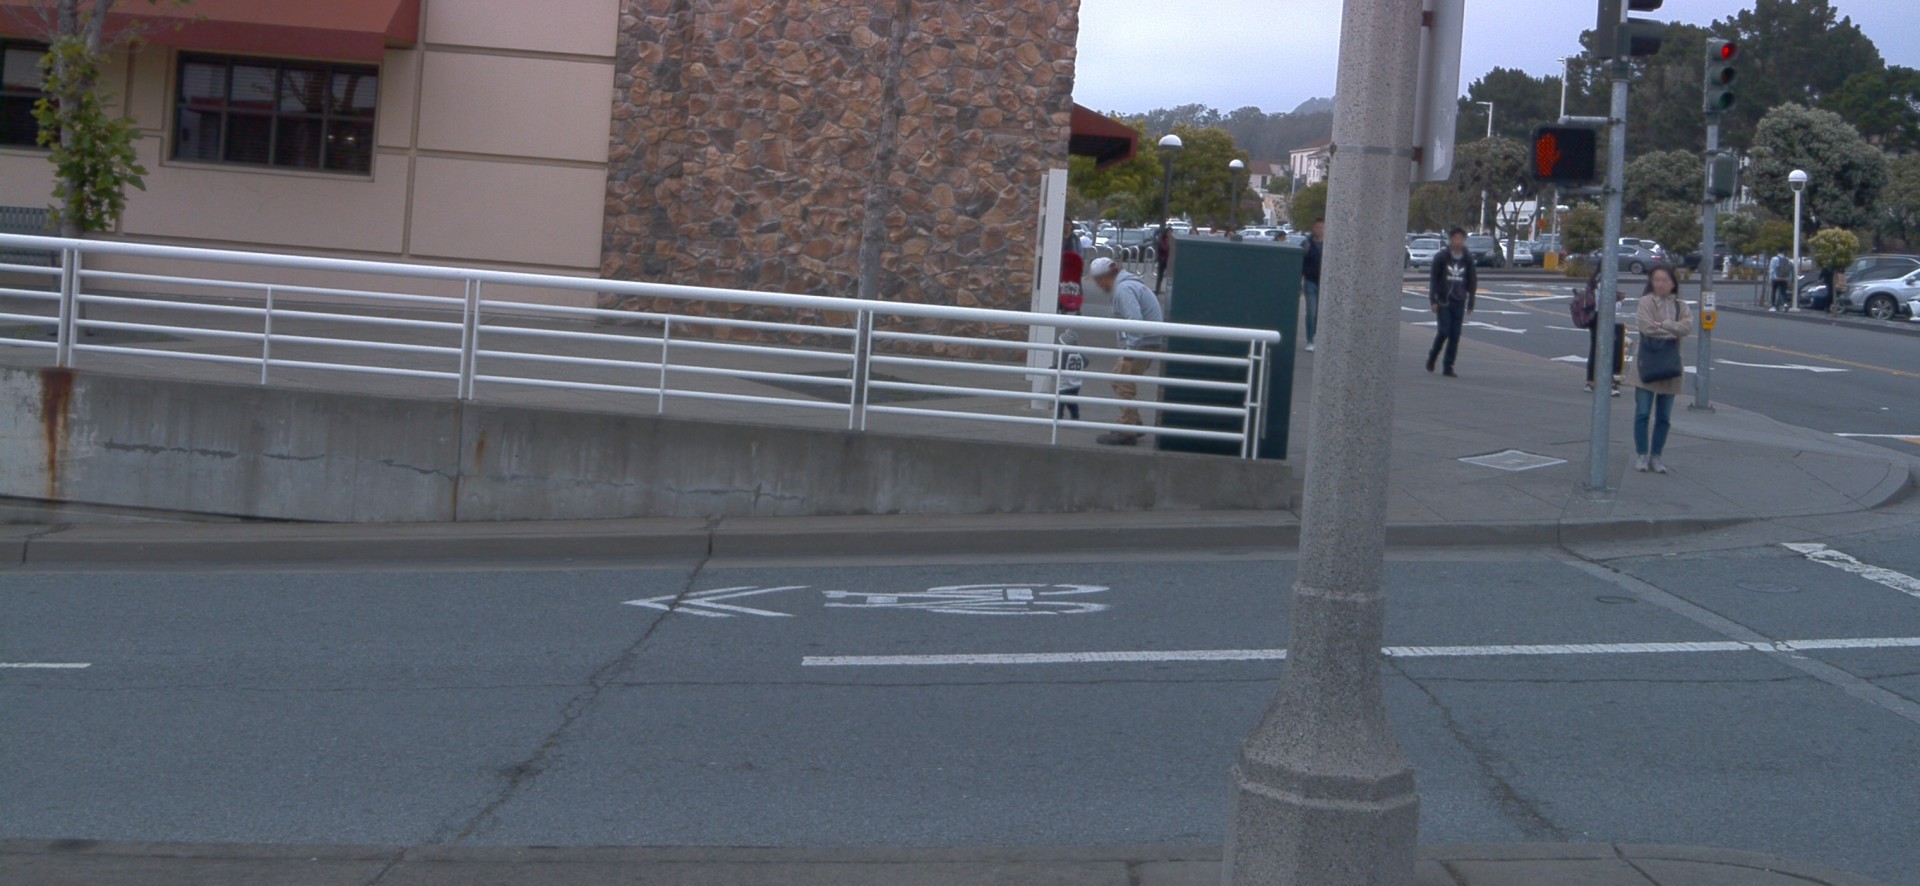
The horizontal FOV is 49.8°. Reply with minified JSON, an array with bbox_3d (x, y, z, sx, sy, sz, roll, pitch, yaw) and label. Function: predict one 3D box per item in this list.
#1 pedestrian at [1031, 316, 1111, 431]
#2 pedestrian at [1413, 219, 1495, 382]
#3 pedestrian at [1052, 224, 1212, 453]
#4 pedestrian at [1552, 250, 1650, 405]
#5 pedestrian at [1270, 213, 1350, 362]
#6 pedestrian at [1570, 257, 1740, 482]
[{"bbox_3d":[0.902,-0.568,16.710,0.545,0.878,0.544,0,3,14],"label":"pedestrian"},{"bbox_3d":[5.742,-1.674,24.067,0.689,1.846,0.922,-1,2,-3],"label":"pedestrian"},{"bbox_3d":[1.337,-0.843,16.027,0.884,1.696,0.869,2,3,42],"label":"pedestrian"},{"bbox_3d":[7.172,-1.310,23.136,0.787,1.677,0.691,-1,2,-19],"label":"pedestrian"},{"bbox_3d":[4.786,-2.152,28.334,0.916,1.976,1.193,0,3,1],"label":"pedestrian"},{"bbox_3d":[5.481,-0.603,16.336,1.041,1.706,0.821,-1,2,-3],"label":"pedestrian"}]
